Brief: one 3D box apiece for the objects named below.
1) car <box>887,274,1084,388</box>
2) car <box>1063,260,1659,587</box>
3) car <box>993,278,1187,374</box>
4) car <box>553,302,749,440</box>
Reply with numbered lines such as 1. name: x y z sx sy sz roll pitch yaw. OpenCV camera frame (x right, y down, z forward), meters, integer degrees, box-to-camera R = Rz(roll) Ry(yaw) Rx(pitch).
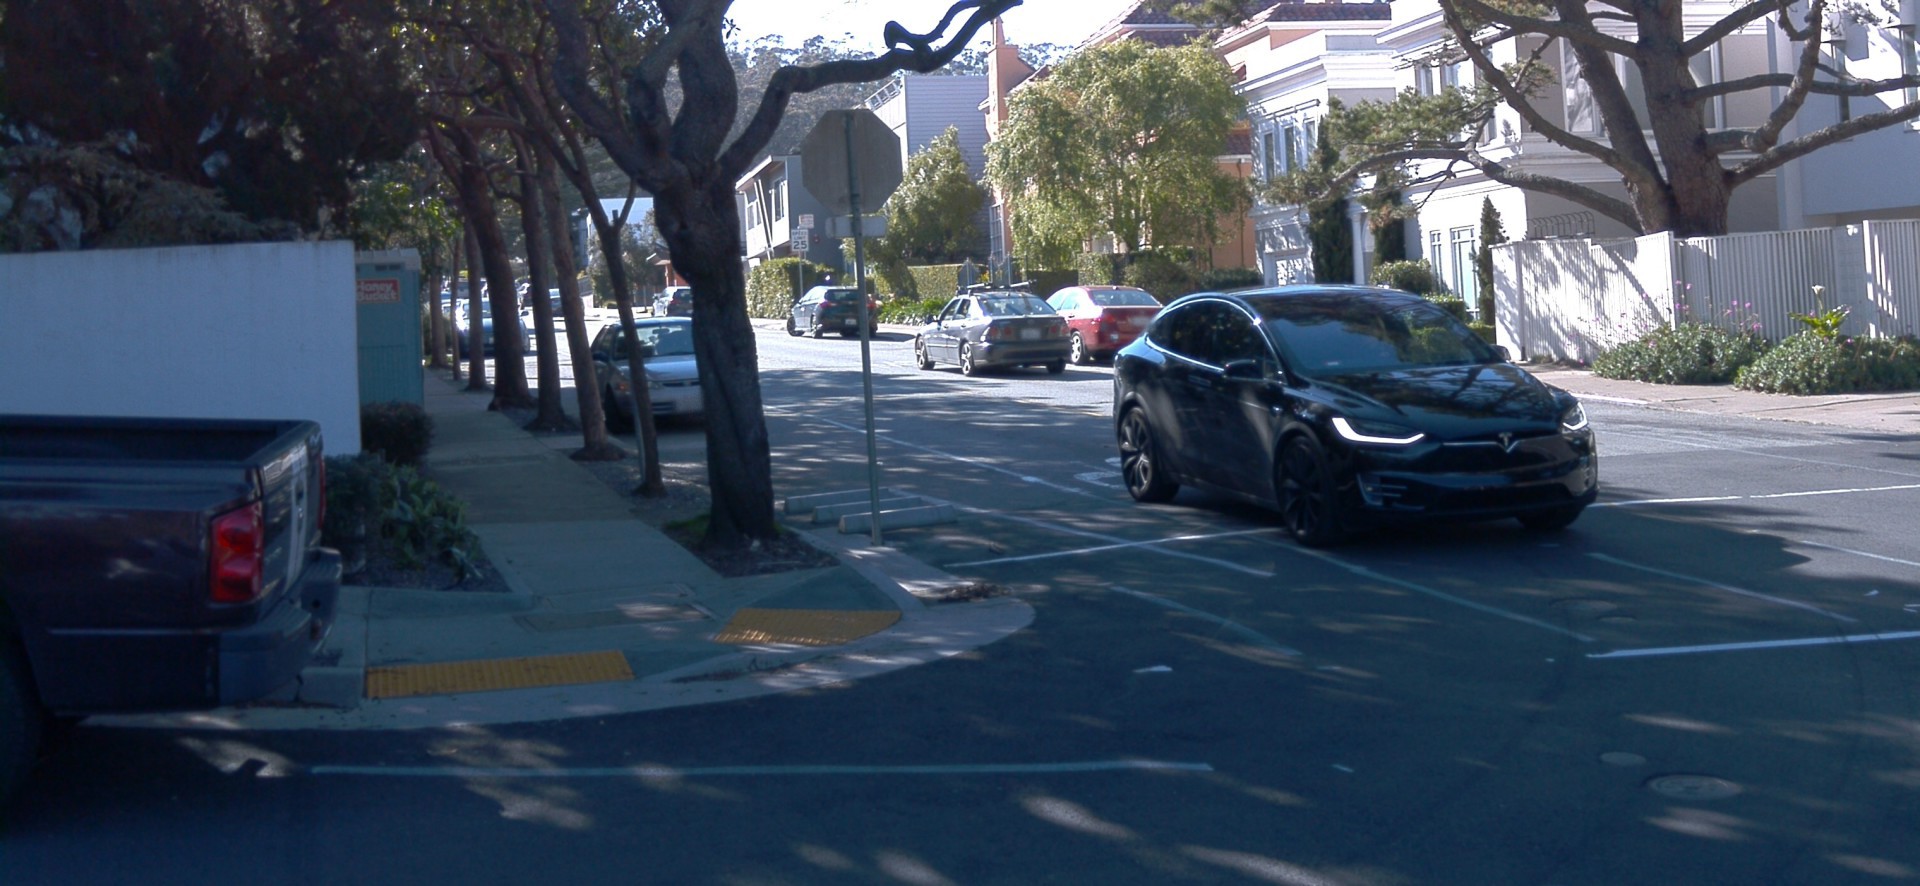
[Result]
1. car: 0.352 -1.979 35.579 2.061 1.662 4.478 -1 6 -18
2. car: 2.644 -0.351 15.248 2.293 1.821 5.023 0 6 -16
3. car: 2.340 -2.233 38.727 1.990 1.502 4.449 -1 6 -20
4. car: -4.049 -0.998 26.696 1.873 1.433 4.053 -1 6 -18
